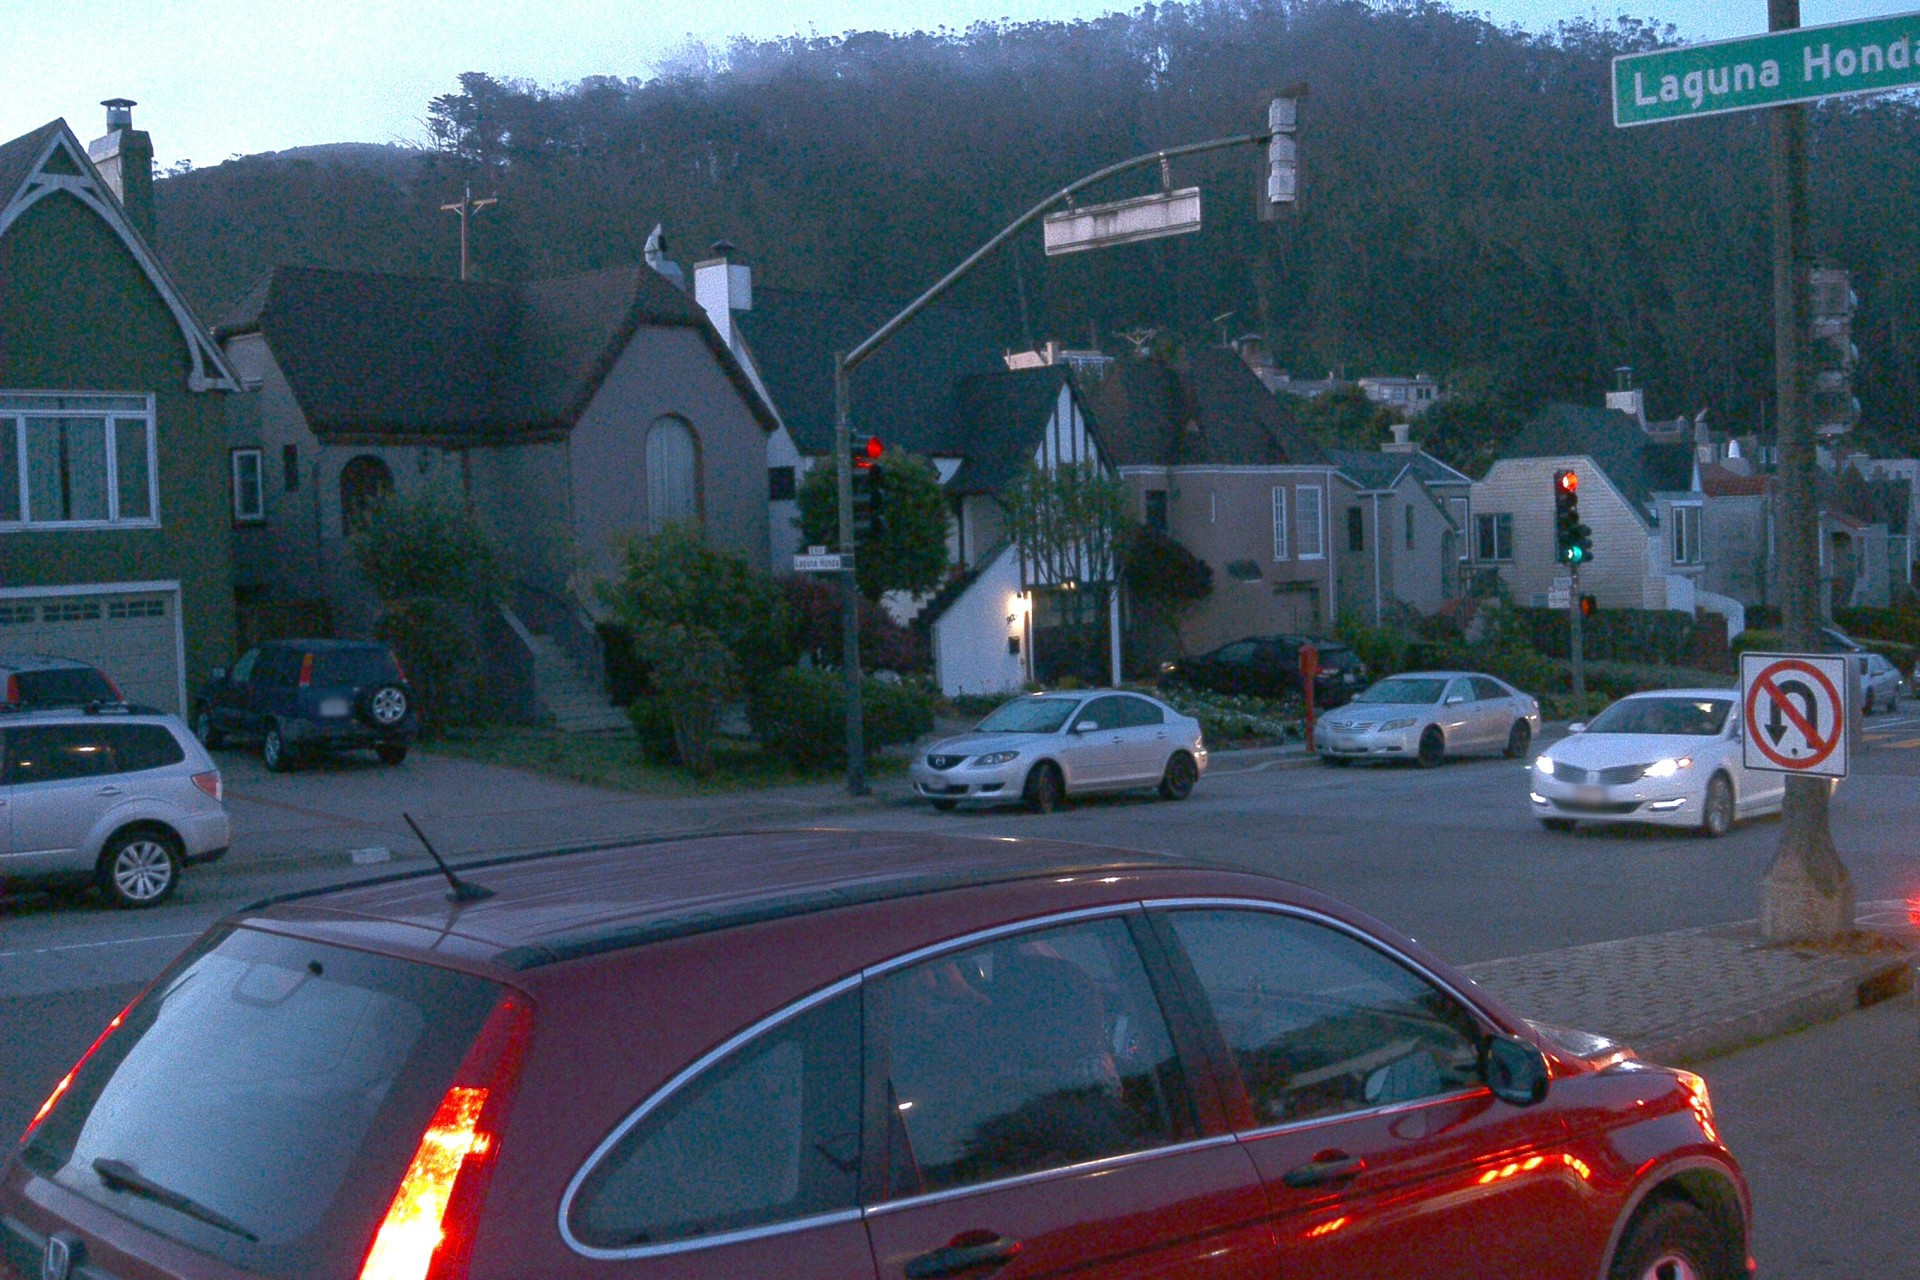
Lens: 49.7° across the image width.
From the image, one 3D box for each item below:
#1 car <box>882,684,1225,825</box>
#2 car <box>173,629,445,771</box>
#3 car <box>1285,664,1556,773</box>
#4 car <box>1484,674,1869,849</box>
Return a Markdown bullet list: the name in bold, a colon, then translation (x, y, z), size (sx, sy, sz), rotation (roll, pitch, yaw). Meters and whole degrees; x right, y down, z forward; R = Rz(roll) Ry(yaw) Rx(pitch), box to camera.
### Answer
- **car**: translation (1.252, 1.351, 25.938), size (1.901, 1.490, 4.437), rotation (0, 0, 42)
- **car**: translation (-8.841, 0.743, 27.939), size (2.020, 1.750, 4.316), rotation (0, 0, -39)
- **car**: translation (7.475, 1.201, 33.345), size (2.119, 1.530, 4.797), rotation (0, 0, 43)
- **car**: translation (7.785, 1.199, 22.221), size (2.156, 1.550, 4.878), rotation (0, 0, 42)
